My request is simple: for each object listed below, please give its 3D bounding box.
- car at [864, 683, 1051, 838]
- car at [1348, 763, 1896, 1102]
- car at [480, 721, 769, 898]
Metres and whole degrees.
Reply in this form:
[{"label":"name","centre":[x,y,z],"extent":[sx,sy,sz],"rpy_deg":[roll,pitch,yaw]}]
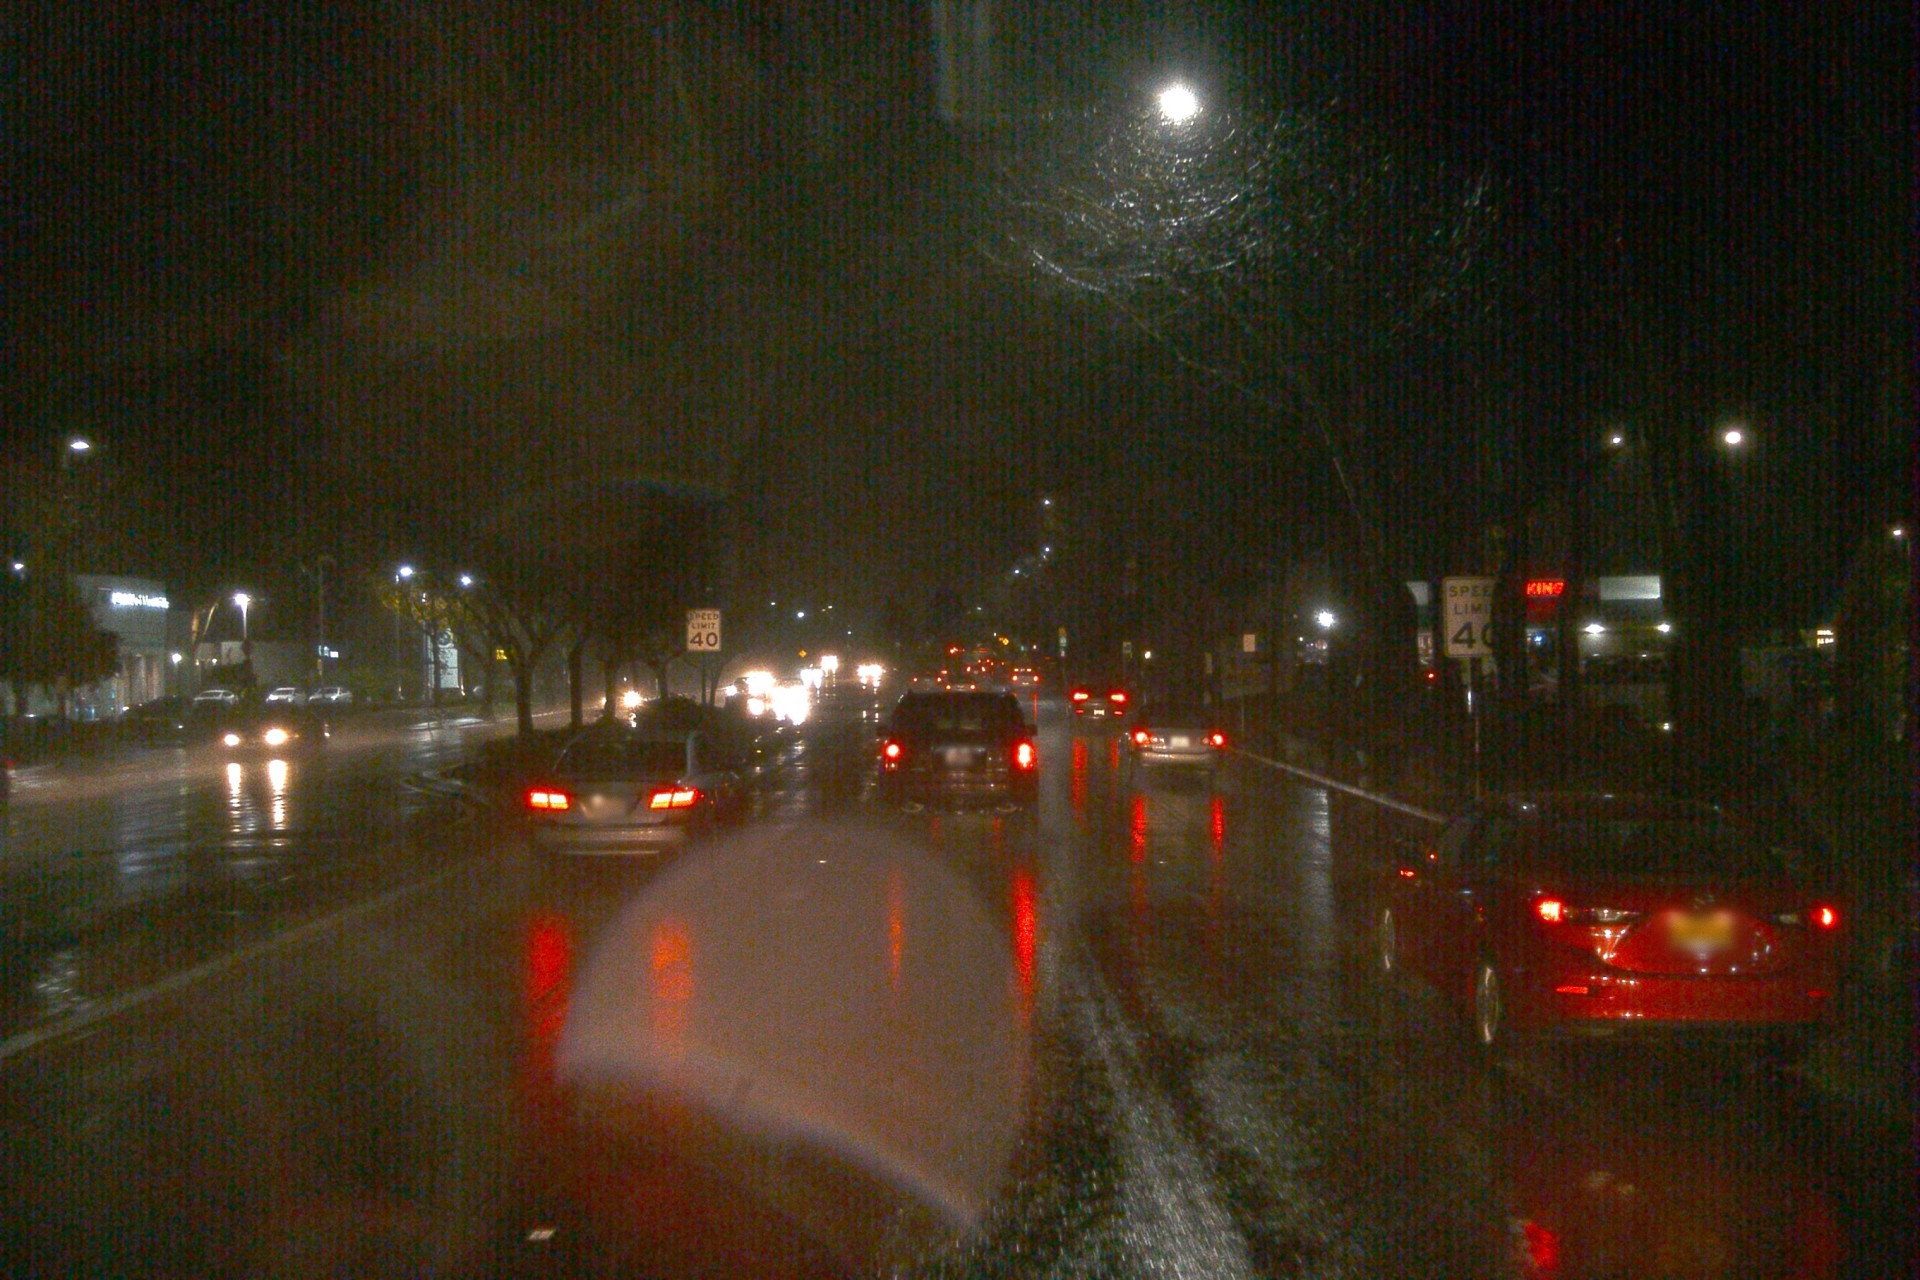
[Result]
[{"label":"car","centre":[-0.029,1.480,27.061],"extent":[2.222,1.800,4.381],"rpy_deg":[0,-1,0]},{"label":"car","centre":[3.688,1.578,12.498],"extent":[1.963,1.470,4.264],"rpy_deg":[0,-1,1]},{"label":"car","centre":[-3.423,1.713,22.309],"extent":[2.307,1.544,4.878],"rpy_deg":[0,-1,0]}]
